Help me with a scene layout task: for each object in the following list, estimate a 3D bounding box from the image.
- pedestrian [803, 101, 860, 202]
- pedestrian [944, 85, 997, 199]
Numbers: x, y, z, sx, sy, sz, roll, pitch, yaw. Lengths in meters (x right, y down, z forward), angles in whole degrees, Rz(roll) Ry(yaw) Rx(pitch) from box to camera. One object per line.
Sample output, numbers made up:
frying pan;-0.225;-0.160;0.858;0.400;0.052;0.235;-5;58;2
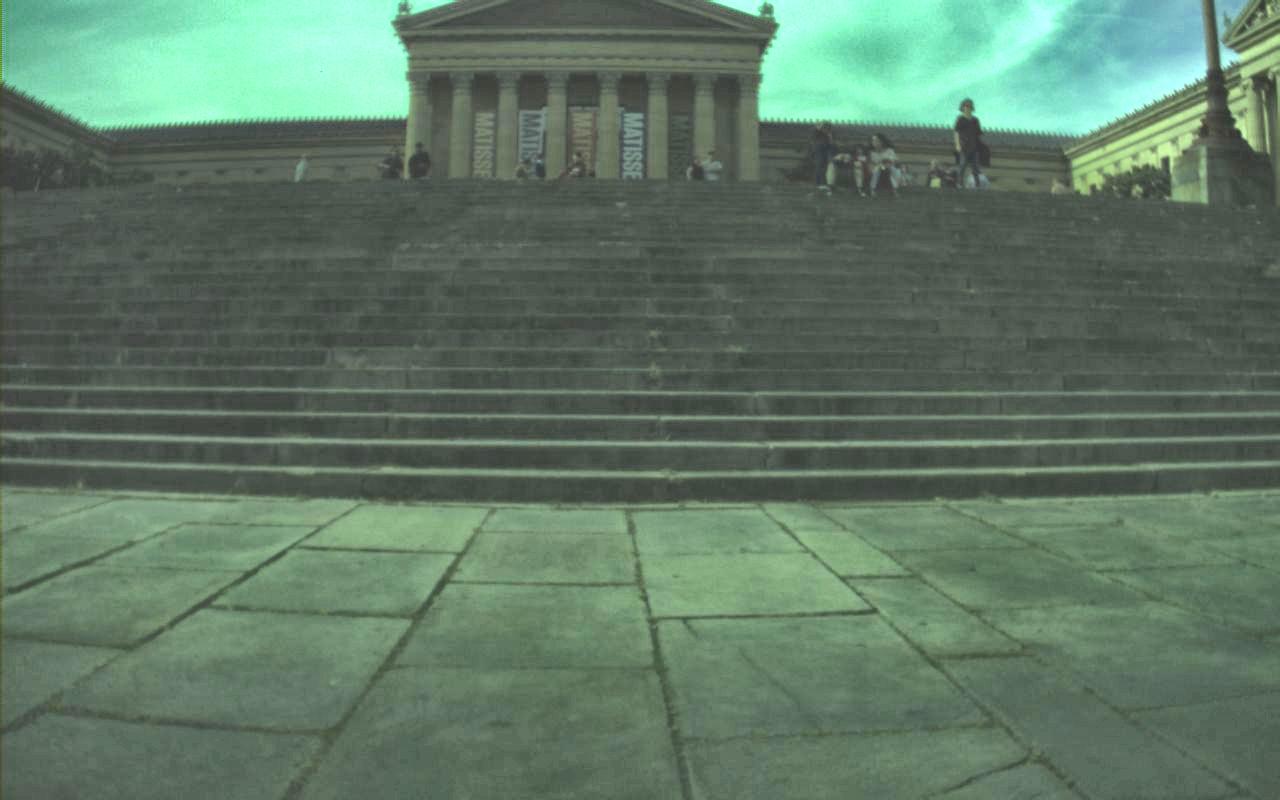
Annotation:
pedestrian;3.044;-3.947;19.779;0.728;1.490;0.736;0;0;-7
pedestrian;5.634;-4.381;20.738;0.727;1.836;0.718;0;0;1
